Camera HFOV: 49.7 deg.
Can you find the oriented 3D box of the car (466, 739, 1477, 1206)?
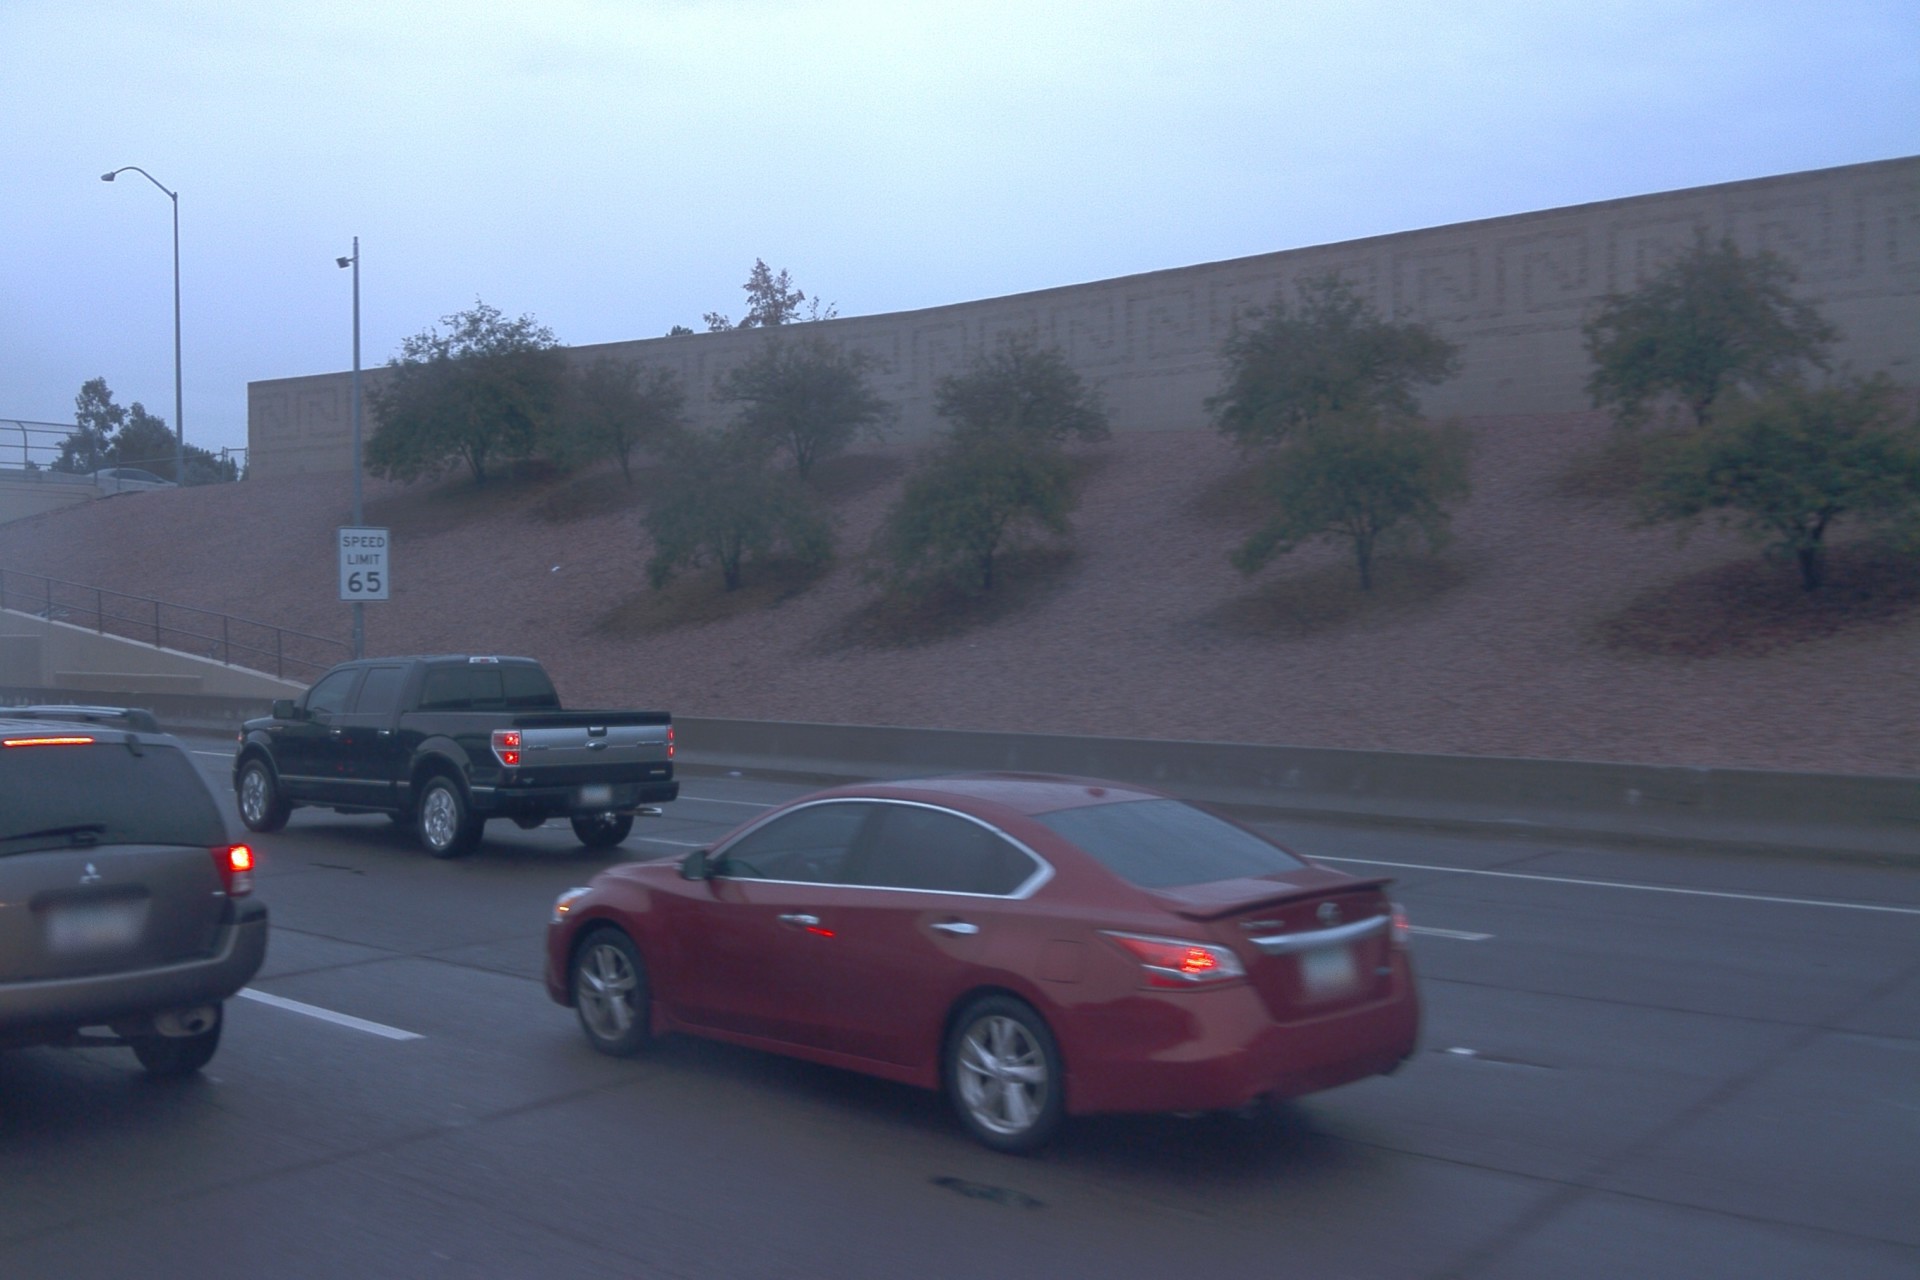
[{"bbox_3d":[-0.190,1.318,9.927,2.016,1.470,4.807,0,0,-45],"label":"car"}]

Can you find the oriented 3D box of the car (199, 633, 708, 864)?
[{"bbox_3d":[-5.318,0.957,21.154,2.350,2.030,5.874,0,0,-45],"label":"car"}]
